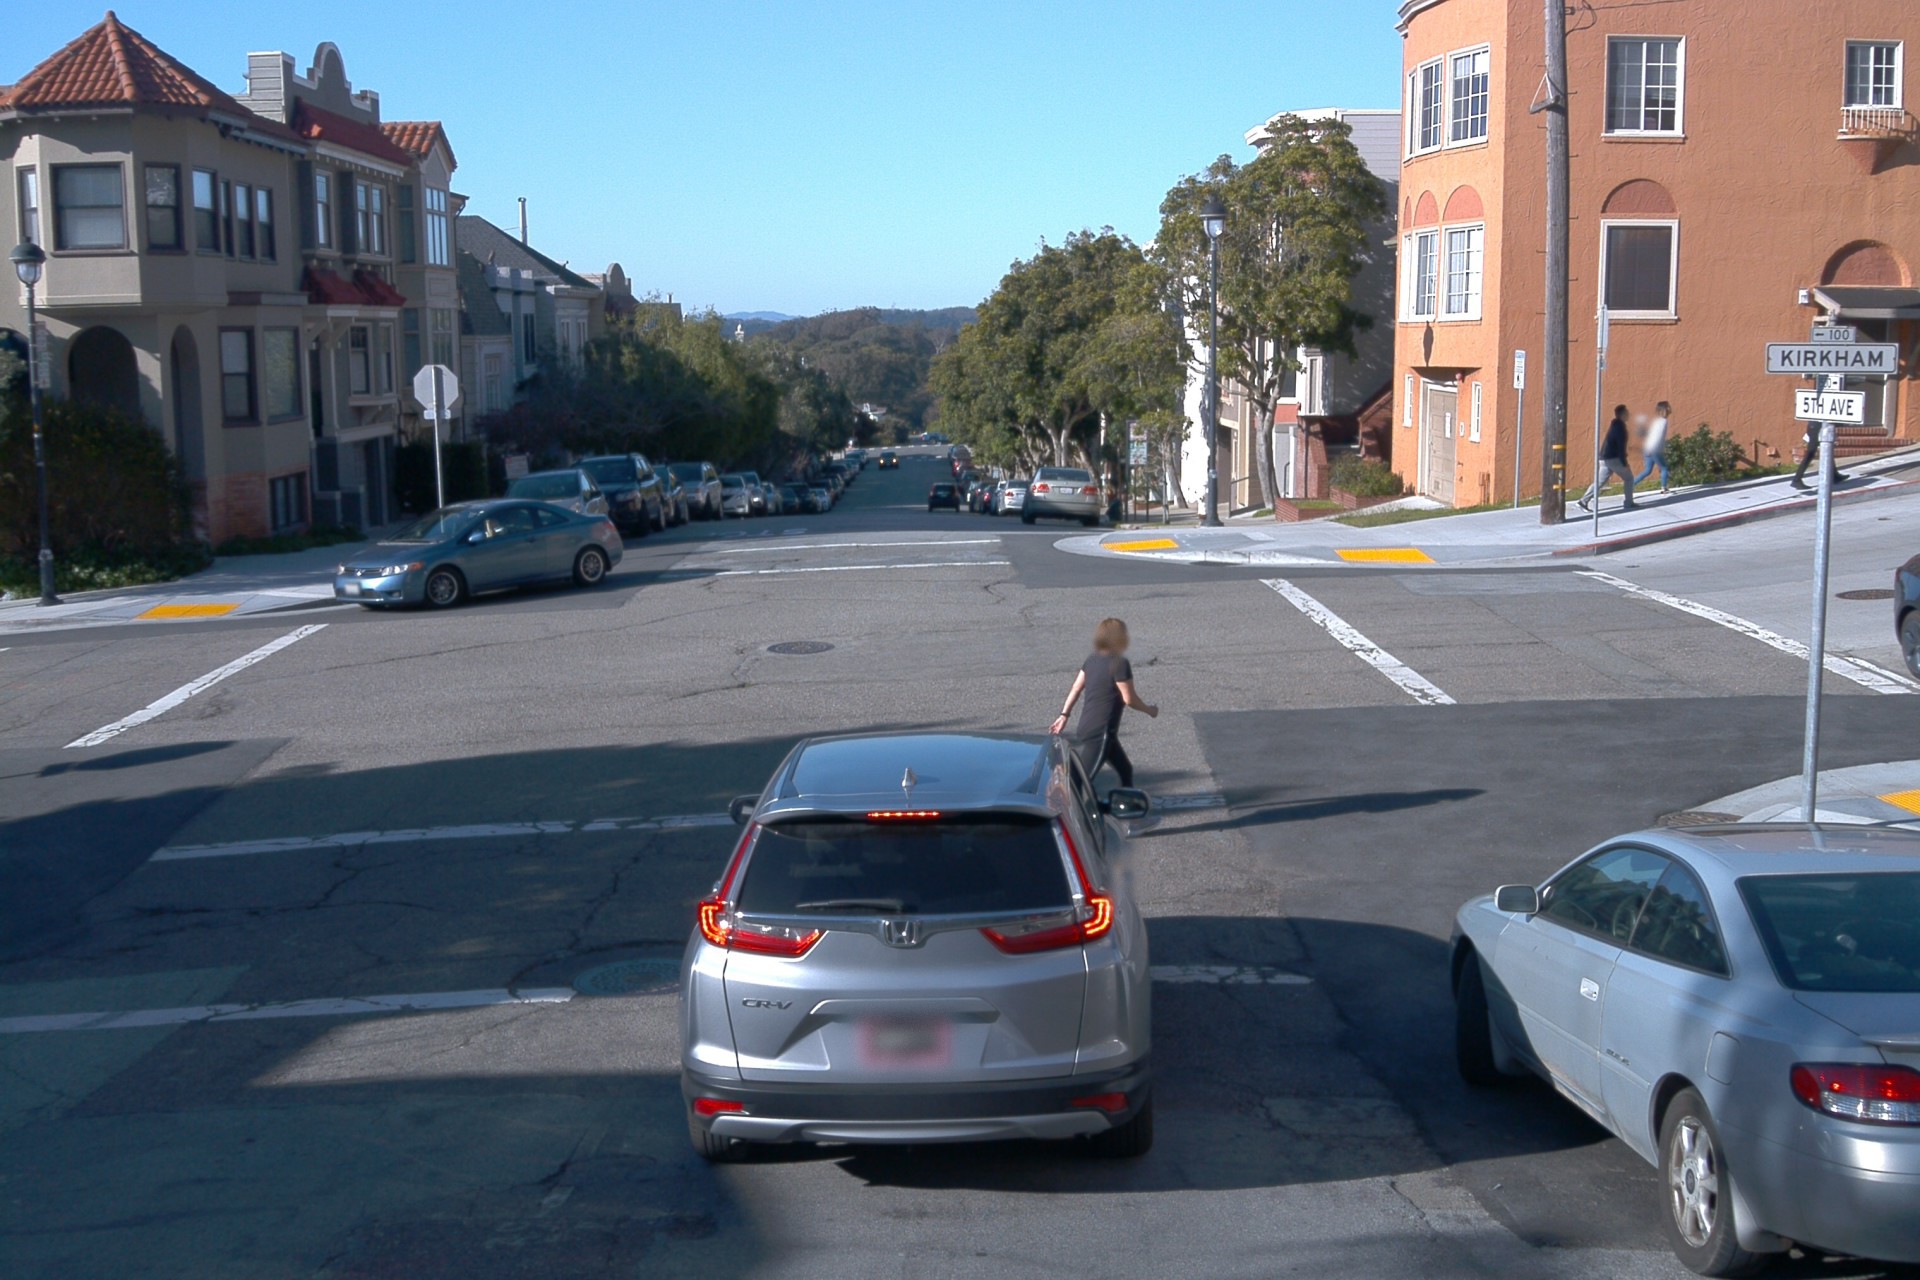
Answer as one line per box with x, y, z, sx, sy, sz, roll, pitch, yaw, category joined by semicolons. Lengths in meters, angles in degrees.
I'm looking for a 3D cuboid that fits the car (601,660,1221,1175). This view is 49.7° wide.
-0.189;1.005;9.674;2.191;1.800;4.695;0;0;0;car

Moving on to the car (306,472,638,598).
-6.834;-1.425;29.410;1.823;1.530;4.401;0;0;38;car

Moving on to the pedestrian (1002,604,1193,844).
0.959;0.568;14.512;1.128;1.620;0.731;0;0;-22;pedestrian
